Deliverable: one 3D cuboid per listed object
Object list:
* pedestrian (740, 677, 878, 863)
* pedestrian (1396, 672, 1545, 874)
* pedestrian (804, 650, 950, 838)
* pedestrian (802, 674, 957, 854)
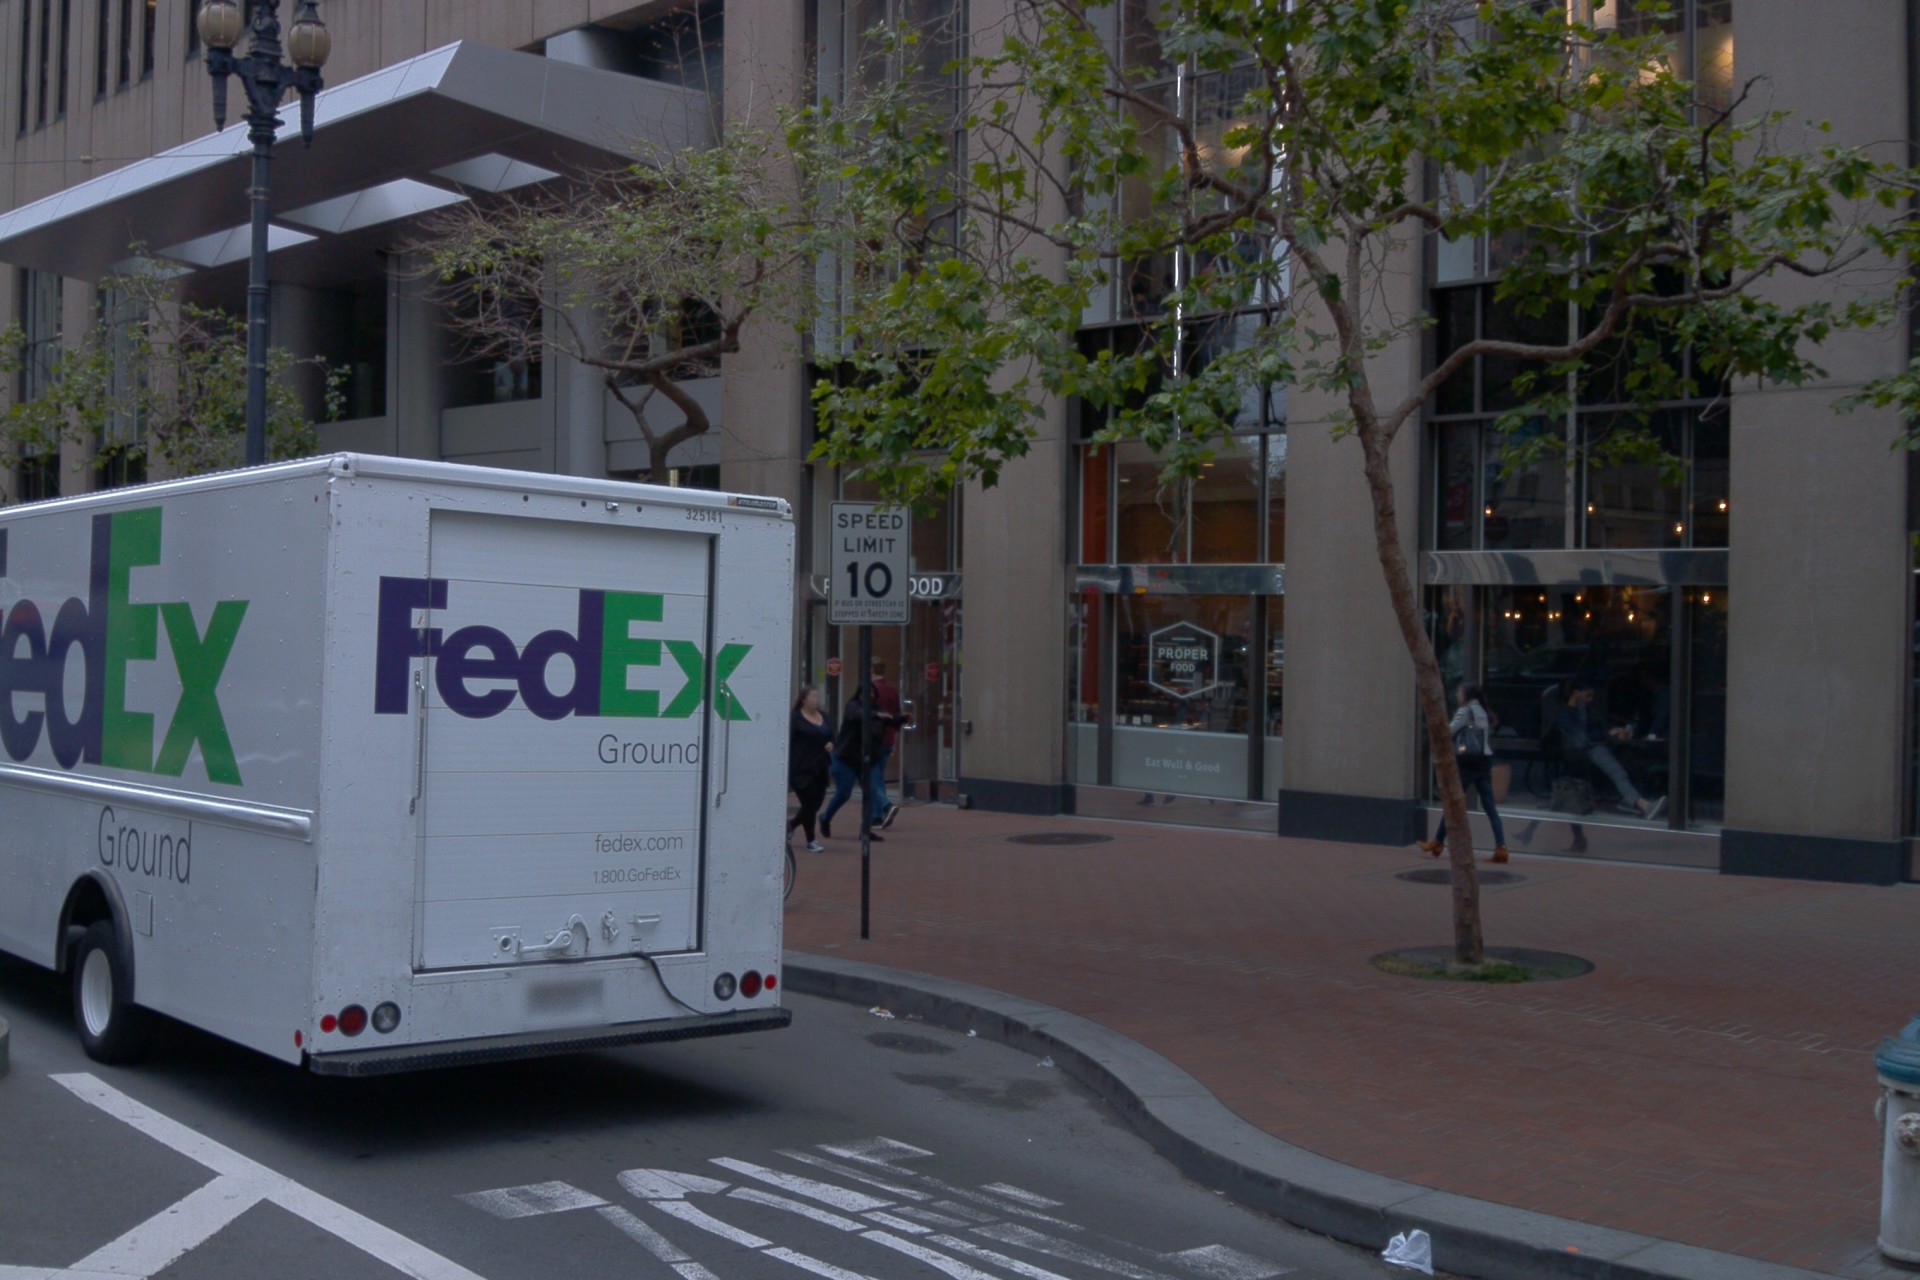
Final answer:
[{"bbox_3d":[-1.462,1.226,19.820,0.894,1.710,1.015,0,0,-42],"label":"pedestrian"},{"bbox_3d":[4.536,1.149,18.216,0.897,1.710,0.942,0,0,-42],"label":"pedestrian"},{"bbox_3d":[-0.882,1.063,21.706,0.944,1.910,1.272,0,0,-43],"label":"pedestrian"},{"bbox_3d":[-0.815,1.210,20.553,0.901,1.700,1.319,0,0,-43],"label":"pedestrian"}]
